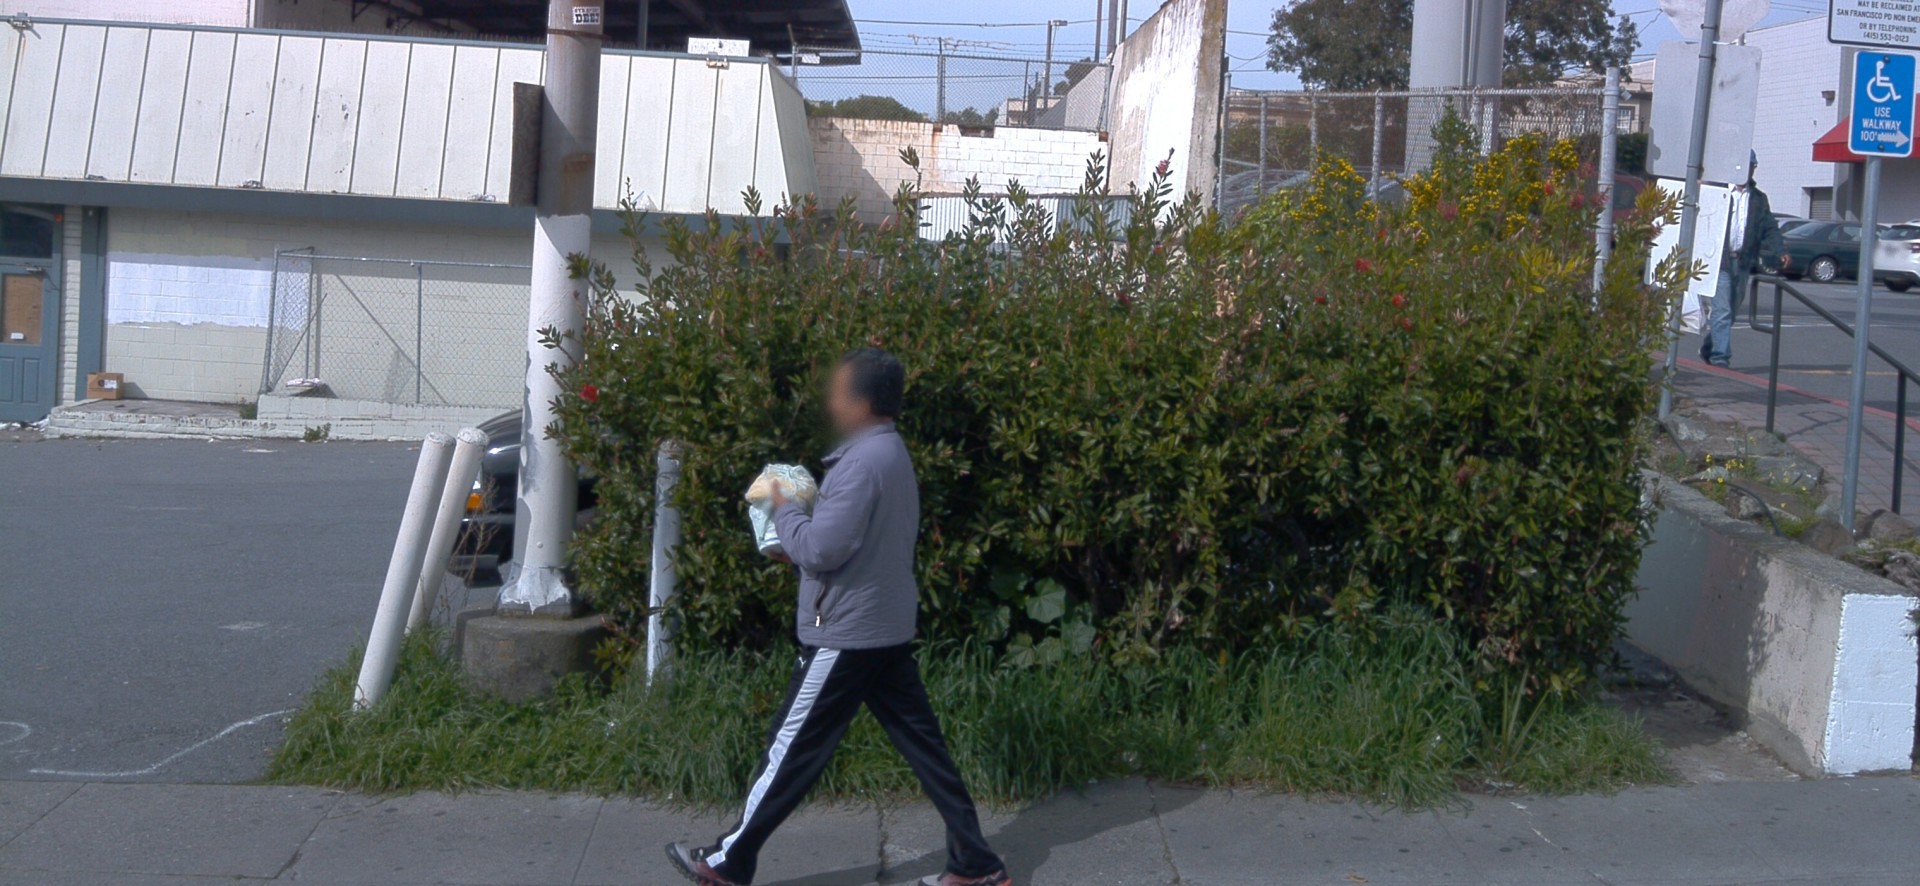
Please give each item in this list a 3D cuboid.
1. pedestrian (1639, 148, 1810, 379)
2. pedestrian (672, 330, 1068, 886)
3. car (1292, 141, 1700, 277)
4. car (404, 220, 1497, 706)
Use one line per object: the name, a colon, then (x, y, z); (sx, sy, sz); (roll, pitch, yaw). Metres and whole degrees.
pedestrian: (5.687, -1.346, 15.409); (1.009, 1.670, 0.952); (0, 1, 7)
pedestrian: (-0.247, 0.559, 6.076); (1.076, 1.744, 0.945); (0, 1, 0)
car: (6.980, -3.074, 27.246); (4.792, 1.717, 2.140); (0, 3, -3)
car: (-0.056, -0.023, 10.056); (4.799, 2.108, 2.006); (0, 3, -2)
